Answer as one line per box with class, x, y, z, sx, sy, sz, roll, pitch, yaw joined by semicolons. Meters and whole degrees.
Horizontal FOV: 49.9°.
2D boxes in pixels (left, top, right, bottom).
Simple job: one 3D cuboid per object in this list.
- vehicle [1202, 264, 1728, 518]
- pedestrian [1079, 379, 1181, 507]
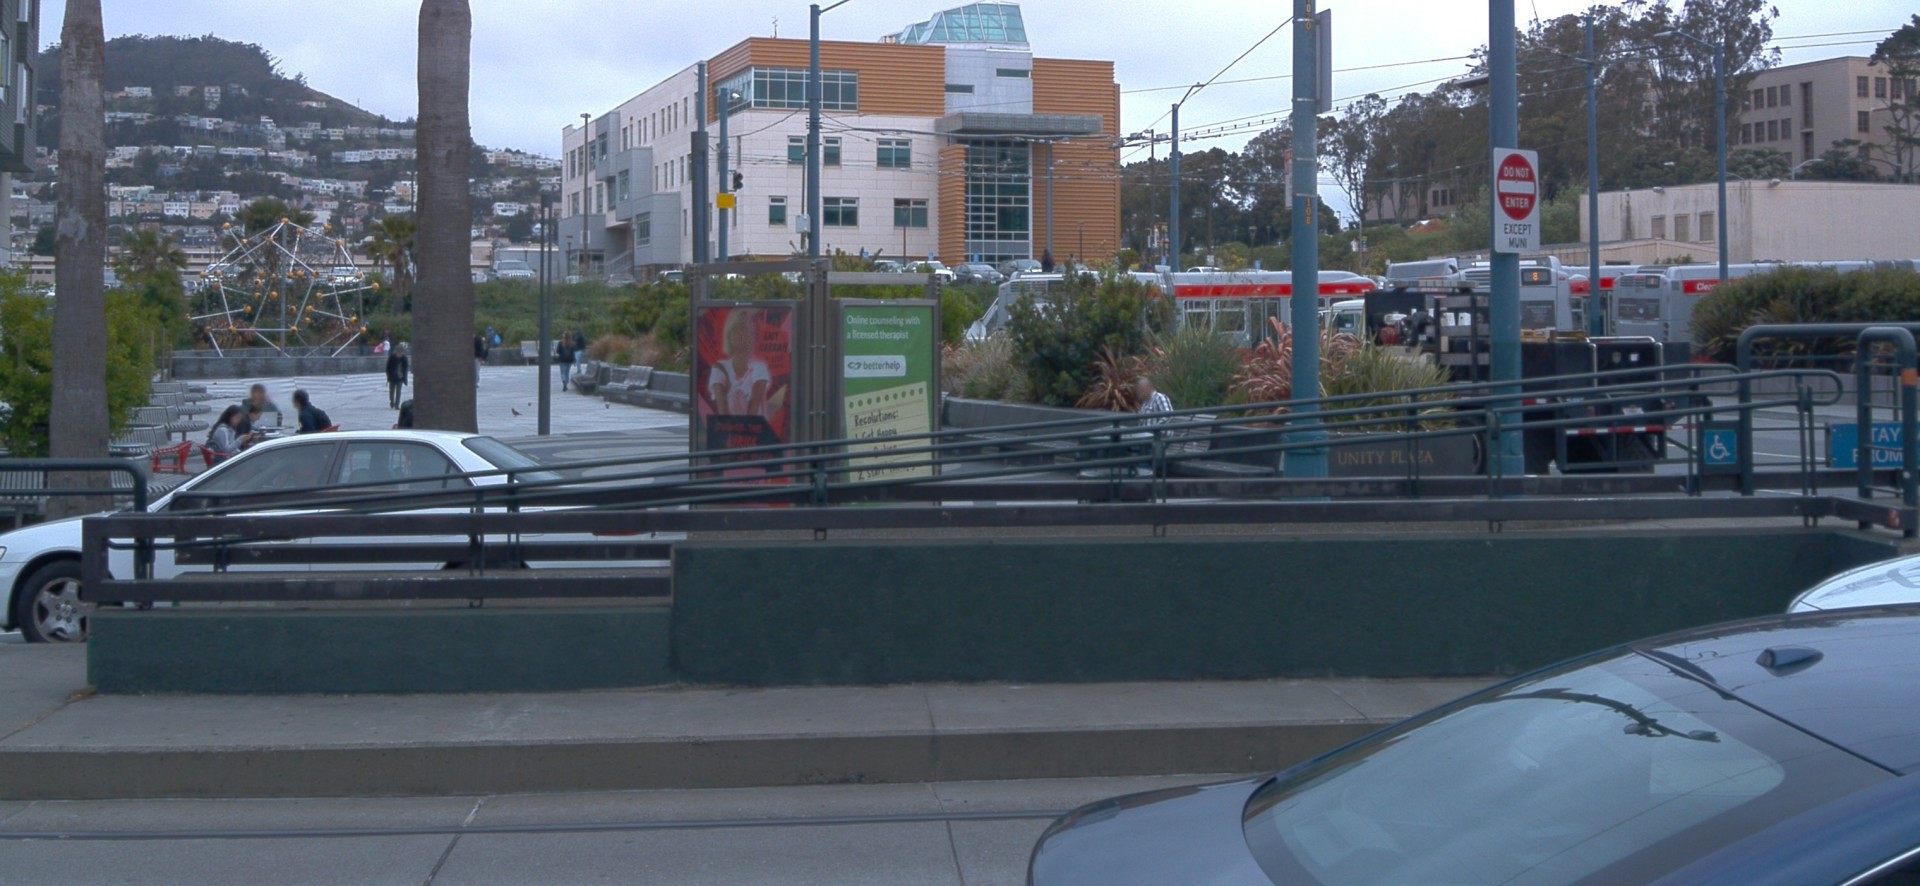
vehicle;6.422;-0.936;27.571;2.892;2.686;7.251;-2;6;-26
pedestrian;2.056;-0.019;25.011;0.890;1.397;0.955;-1;3;-22
